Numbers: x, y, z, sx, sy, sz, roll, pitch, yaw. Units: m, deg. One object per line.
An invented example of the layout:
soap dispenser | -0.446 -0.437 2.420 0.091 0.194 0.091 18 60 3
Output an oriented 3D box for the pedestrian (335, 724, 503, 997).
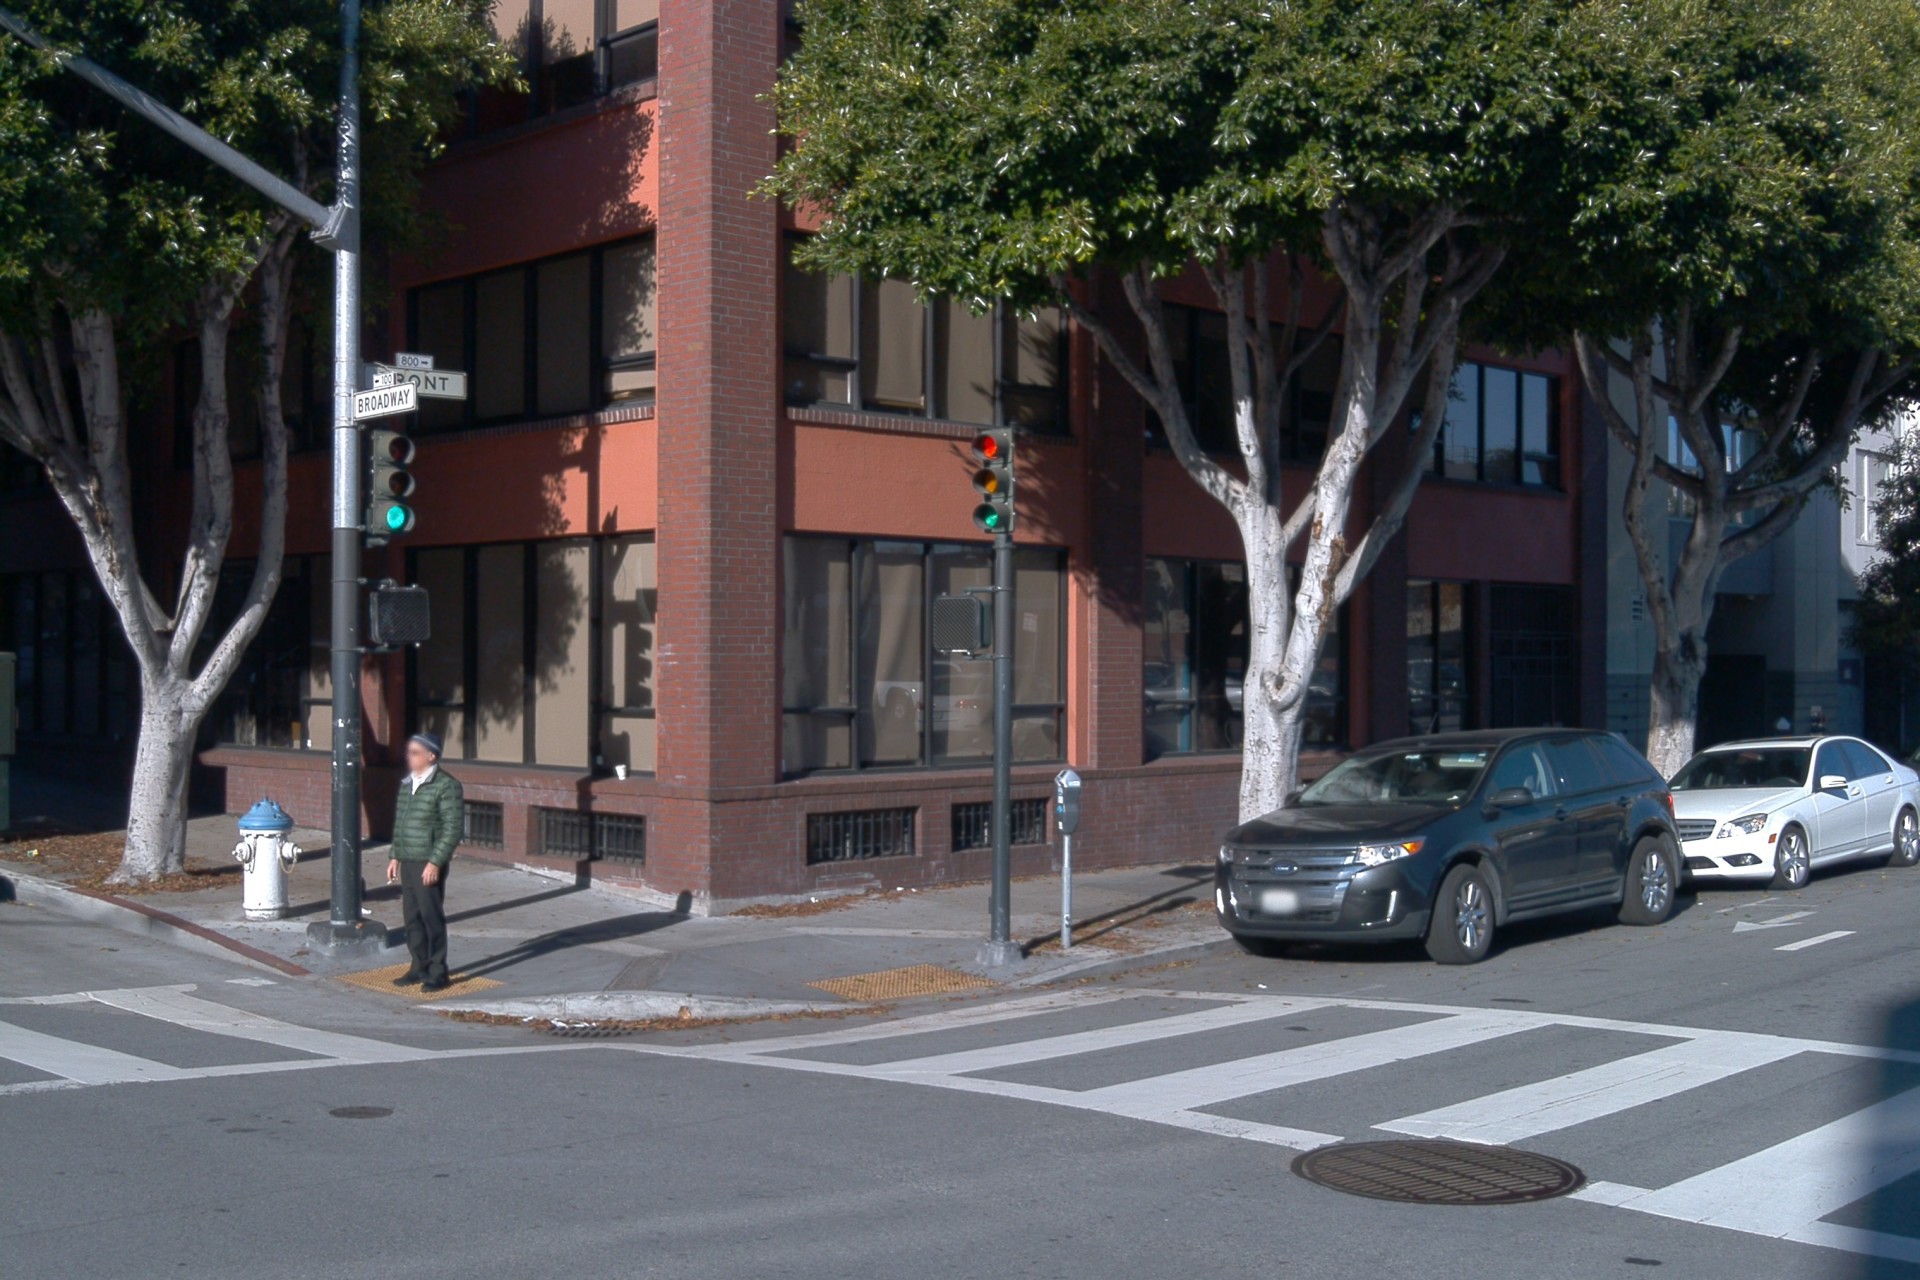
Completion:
pedestrian | -3.753 1.499 14.488 0.847 1.790 0.735 0 0 25

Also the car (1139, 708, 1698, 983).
car | 3.836 1.502 16.884 2.184 1.790 4.813 0 0 45
